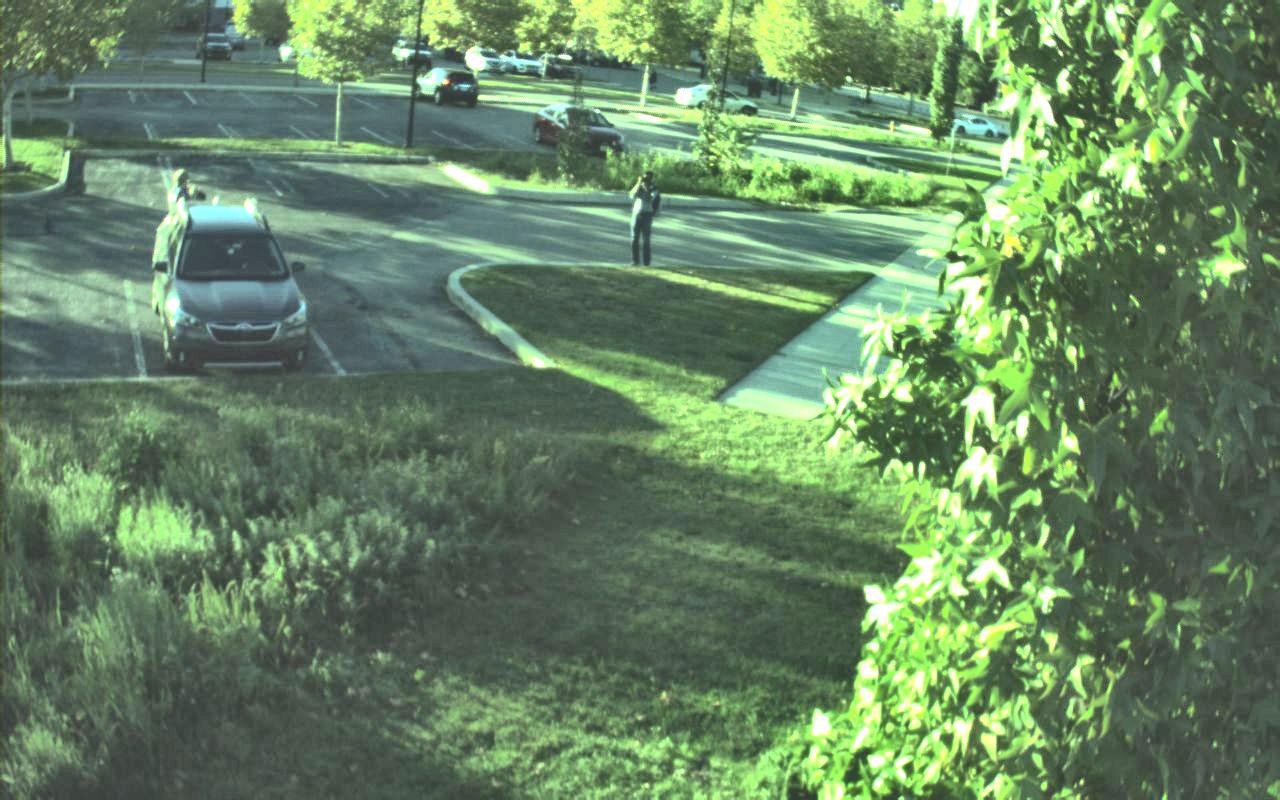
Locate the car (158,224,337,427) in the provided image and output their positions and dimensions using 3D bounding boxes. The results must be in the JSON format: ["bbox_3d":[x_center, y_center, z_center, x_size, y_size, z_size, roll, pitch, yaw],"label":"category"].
[{"bbox_3d":[-5.312,-1.130,15.849,2.007,1.626,4.595,-7,16,-20],"label":"car"}]

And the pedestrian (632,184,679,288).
[{"bbox_3d":[0.276,-2.945,22.558,0.801,1.755,0.835,-1,14,0],"label":"pedestrian"}]

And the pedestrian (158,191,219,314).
[{"bbox_3d":[-7.072,-2.284,18.530,0.817,1.747,0.843,-8,16,-25],"label":"pedestrian"}]
